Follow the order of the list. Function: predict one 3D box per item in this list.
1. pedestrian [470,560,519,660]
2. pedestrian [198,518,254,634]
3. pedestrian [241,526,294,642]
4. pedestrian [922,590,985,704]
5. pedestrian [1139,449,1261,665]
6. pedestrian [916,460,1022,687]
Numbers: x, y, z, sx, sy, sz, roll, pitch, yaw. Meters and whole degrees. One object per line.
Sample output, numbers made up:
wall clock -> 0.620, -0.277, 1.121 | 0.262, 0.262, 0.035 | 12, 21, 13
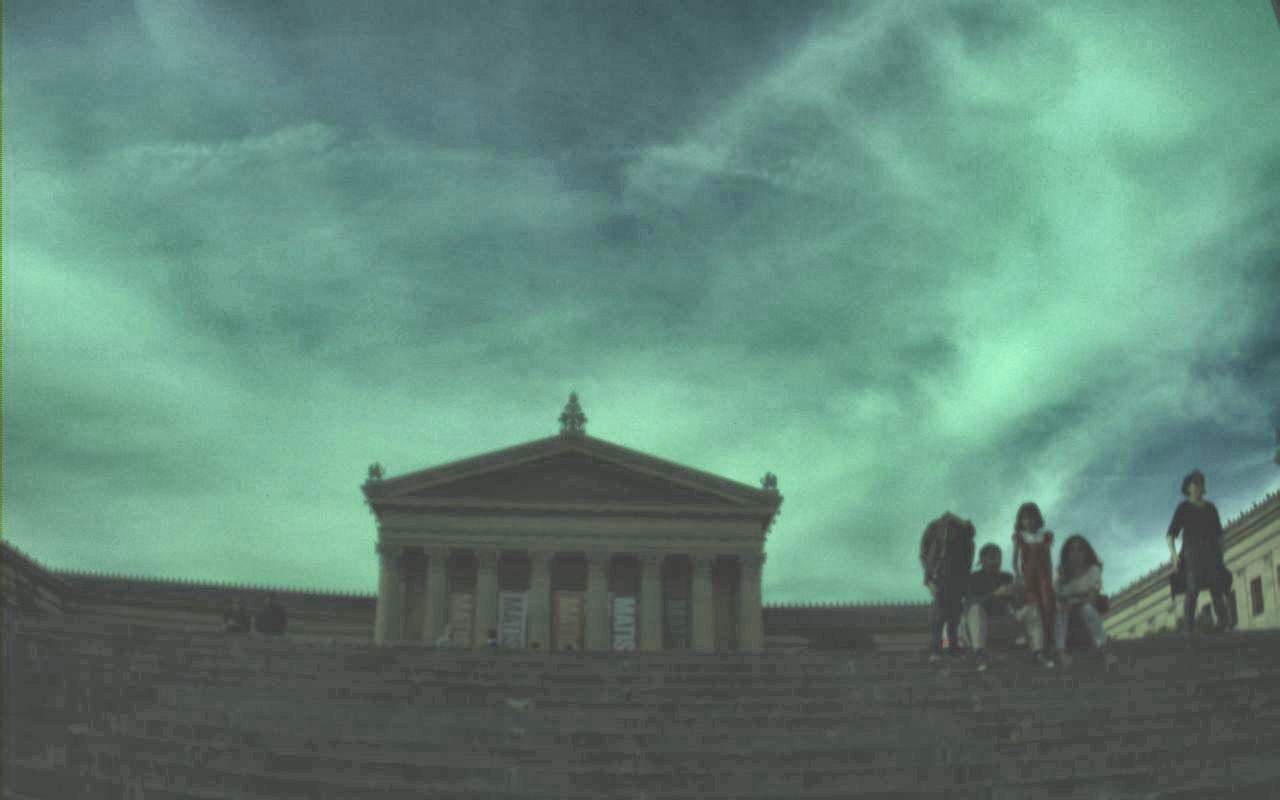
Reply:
pedestrian -> -2.796, 4.042, 23.753 | 0.662, 1.805, 0.664 | 0, 0, -43
pedestrian -> -6.778, 2.898, 19.403 | 0.672, 1.784, 0.673 | 0, 0, 5
pedestrian -> -6.035, 2.988, 19.345 | 0.691, 1.780, 0.670 | 0, 0, -29
pedestrian -> 5.405, 4.282, 20.850 | 0.713, 1.822, 0.715 | 0, 0, -35
pedestrian -> 5.062, 1.419, 10.378 | 0.797, 1.842, 0.800 | 0, 0, -2
pedestrian -> 2.558, 1.335, 9.417 | 0.697, 1.666, 0.722 | 1, 0, 21
